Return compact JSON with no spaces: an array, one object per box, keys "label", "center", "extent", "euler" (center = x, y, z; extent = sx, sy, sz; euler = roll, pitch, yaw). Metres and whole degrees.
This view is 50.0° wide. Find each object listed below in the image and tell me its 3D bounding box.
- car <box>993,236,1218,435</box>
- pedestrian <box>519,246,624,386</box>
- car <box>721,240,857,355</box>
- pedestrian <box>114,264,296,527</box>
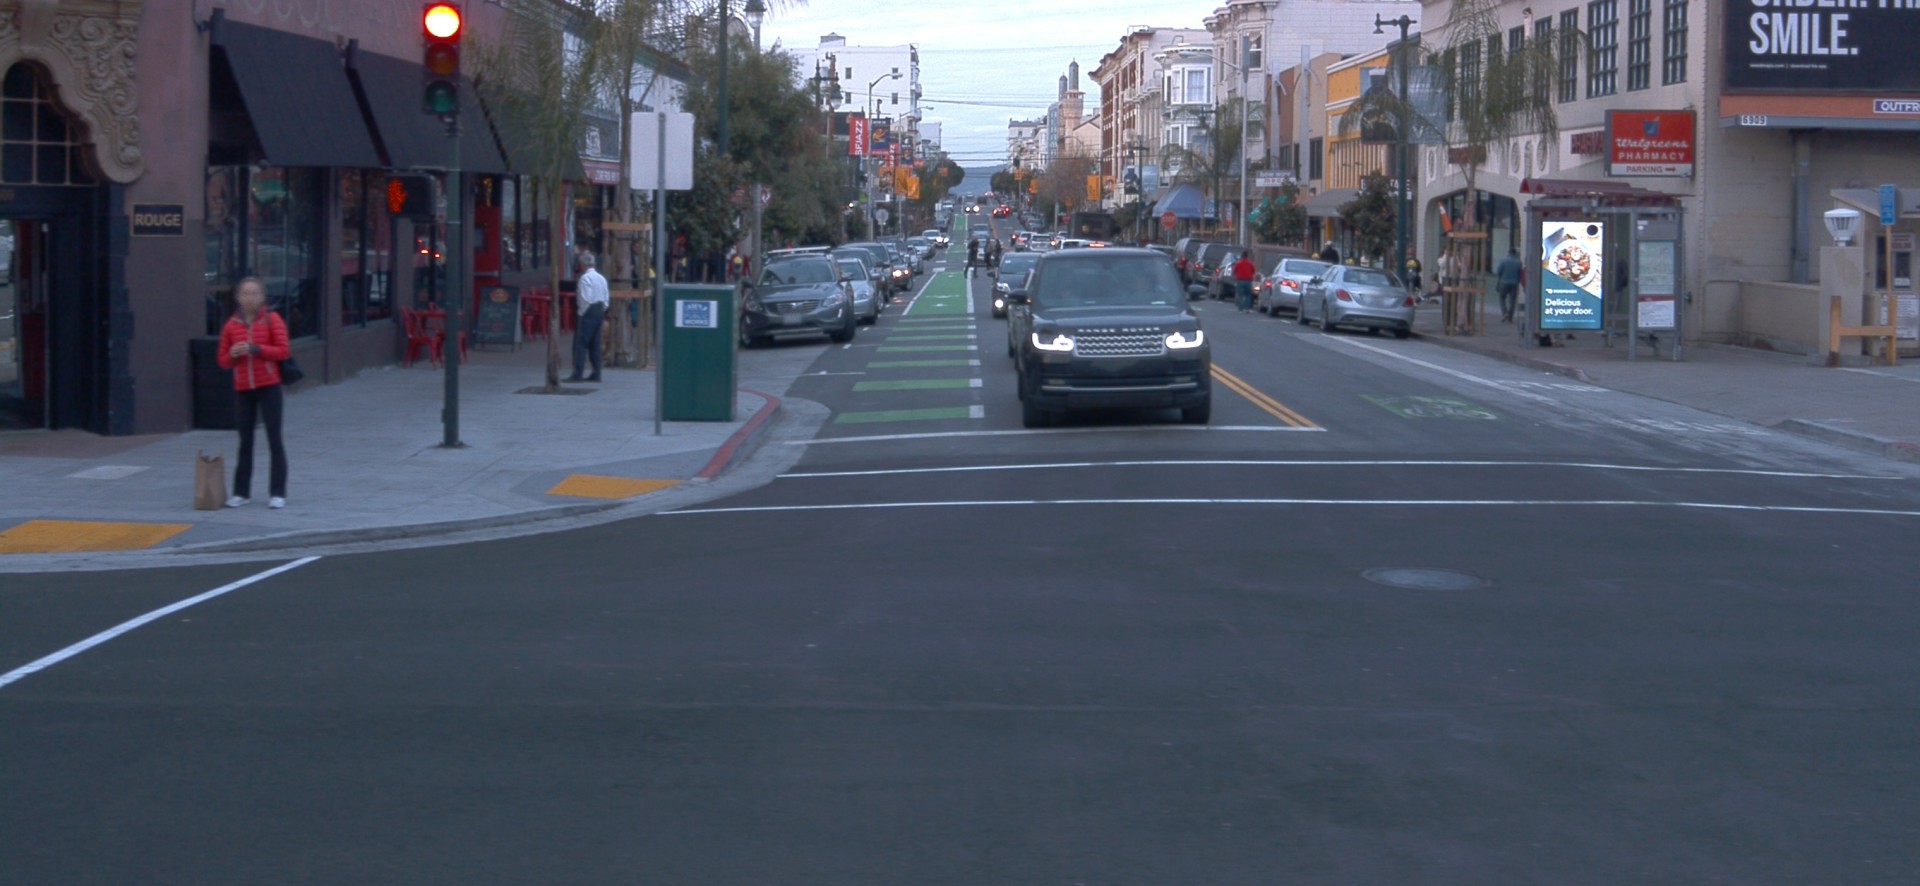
[{"label":"car","center":[1.488,-1.325,23.022],"extent":[2.217,1.880,5.219],"euler":[0,6,1]},{"label":"pedestrian","center":[-4.994,-1.655,26.500],"extent":[0.881,1.726,1.029],"euler":[1,3,26]},{"label":"car","center":[-3.090,-2.771,38.220],"extent":[2.175,1.910,4.798],"euler":[0,6,-1]},{"label":"pedestrian","center":[-5.603,-0.383,15.351],"extent":[1.068,1.874,0.867],"euler":[0,2,-5]}]
